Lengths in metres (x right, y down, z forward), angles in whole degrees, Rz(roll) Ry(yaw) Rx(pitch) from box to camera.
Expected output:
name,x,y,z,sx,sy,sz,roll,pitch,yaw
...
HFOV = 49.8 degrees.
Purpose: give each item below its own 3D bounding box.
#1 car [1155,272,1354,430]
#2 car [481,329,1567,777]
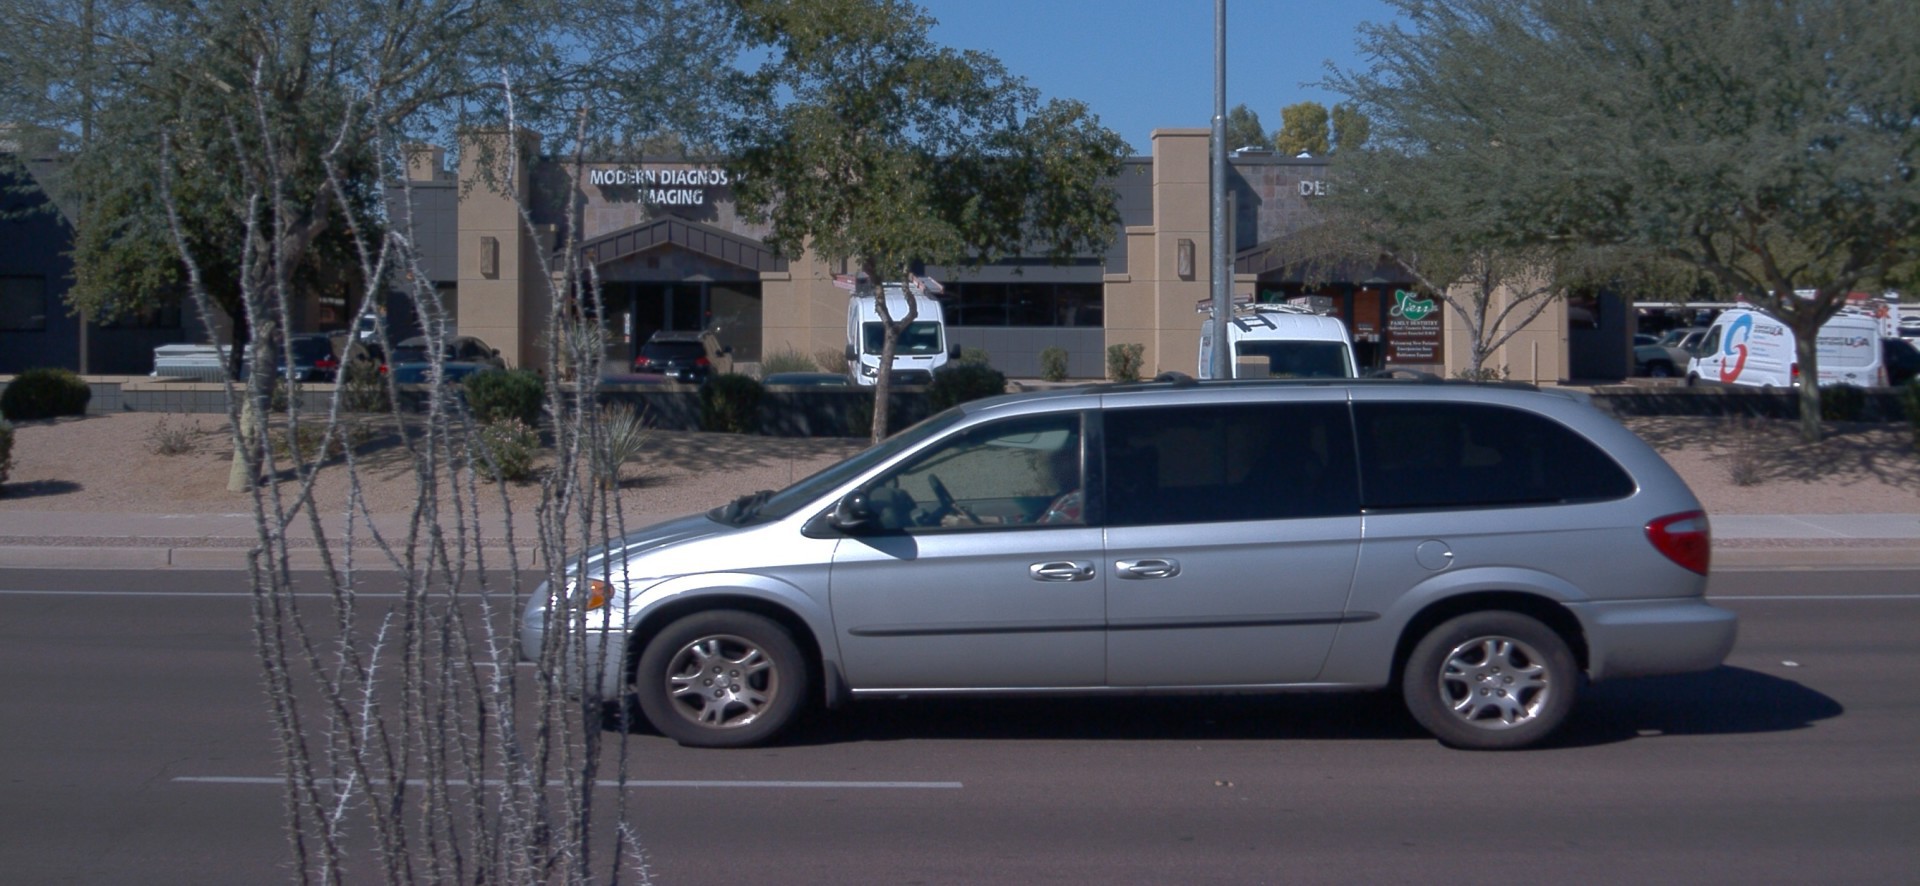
name,x,y,z,sx,sy,sz,roll,pitch,yaw
car,4.562,-1.573,32.957,2.433,2.191,5.469,0,5,0
car,0.305,0.441,10.590,4.961,1.926,2.265,0,4,0
